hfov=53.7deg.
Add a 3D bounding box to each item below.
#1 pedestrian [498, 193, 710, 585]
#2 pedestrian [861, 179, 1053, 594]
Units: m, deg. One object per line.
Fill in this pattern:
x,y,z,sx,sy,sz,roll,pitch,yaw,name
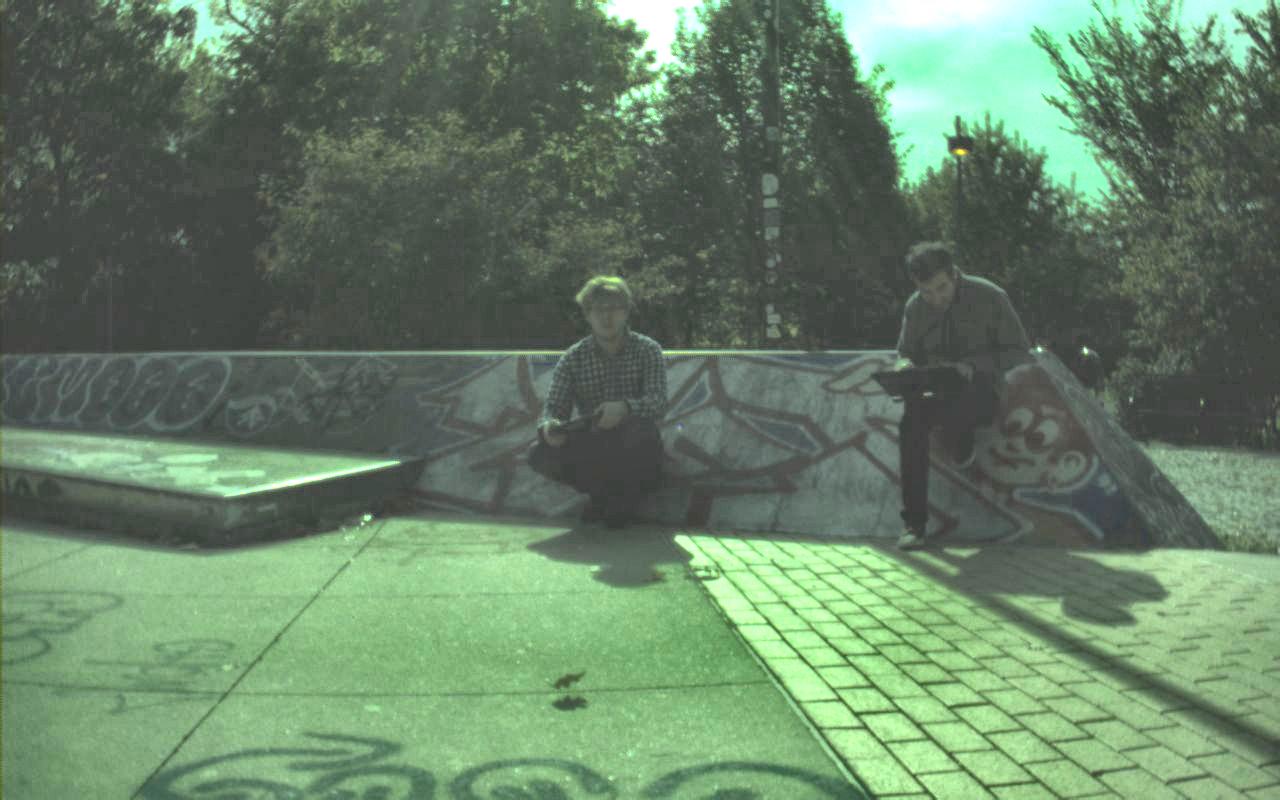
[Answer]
-0.162,-0.051,5.534,0.859,1.600,0.831,0,0,-2,pedestrian
1.307,-0.053,5.138,0.700,1.606,0.777,0,0,6,pedestrian
